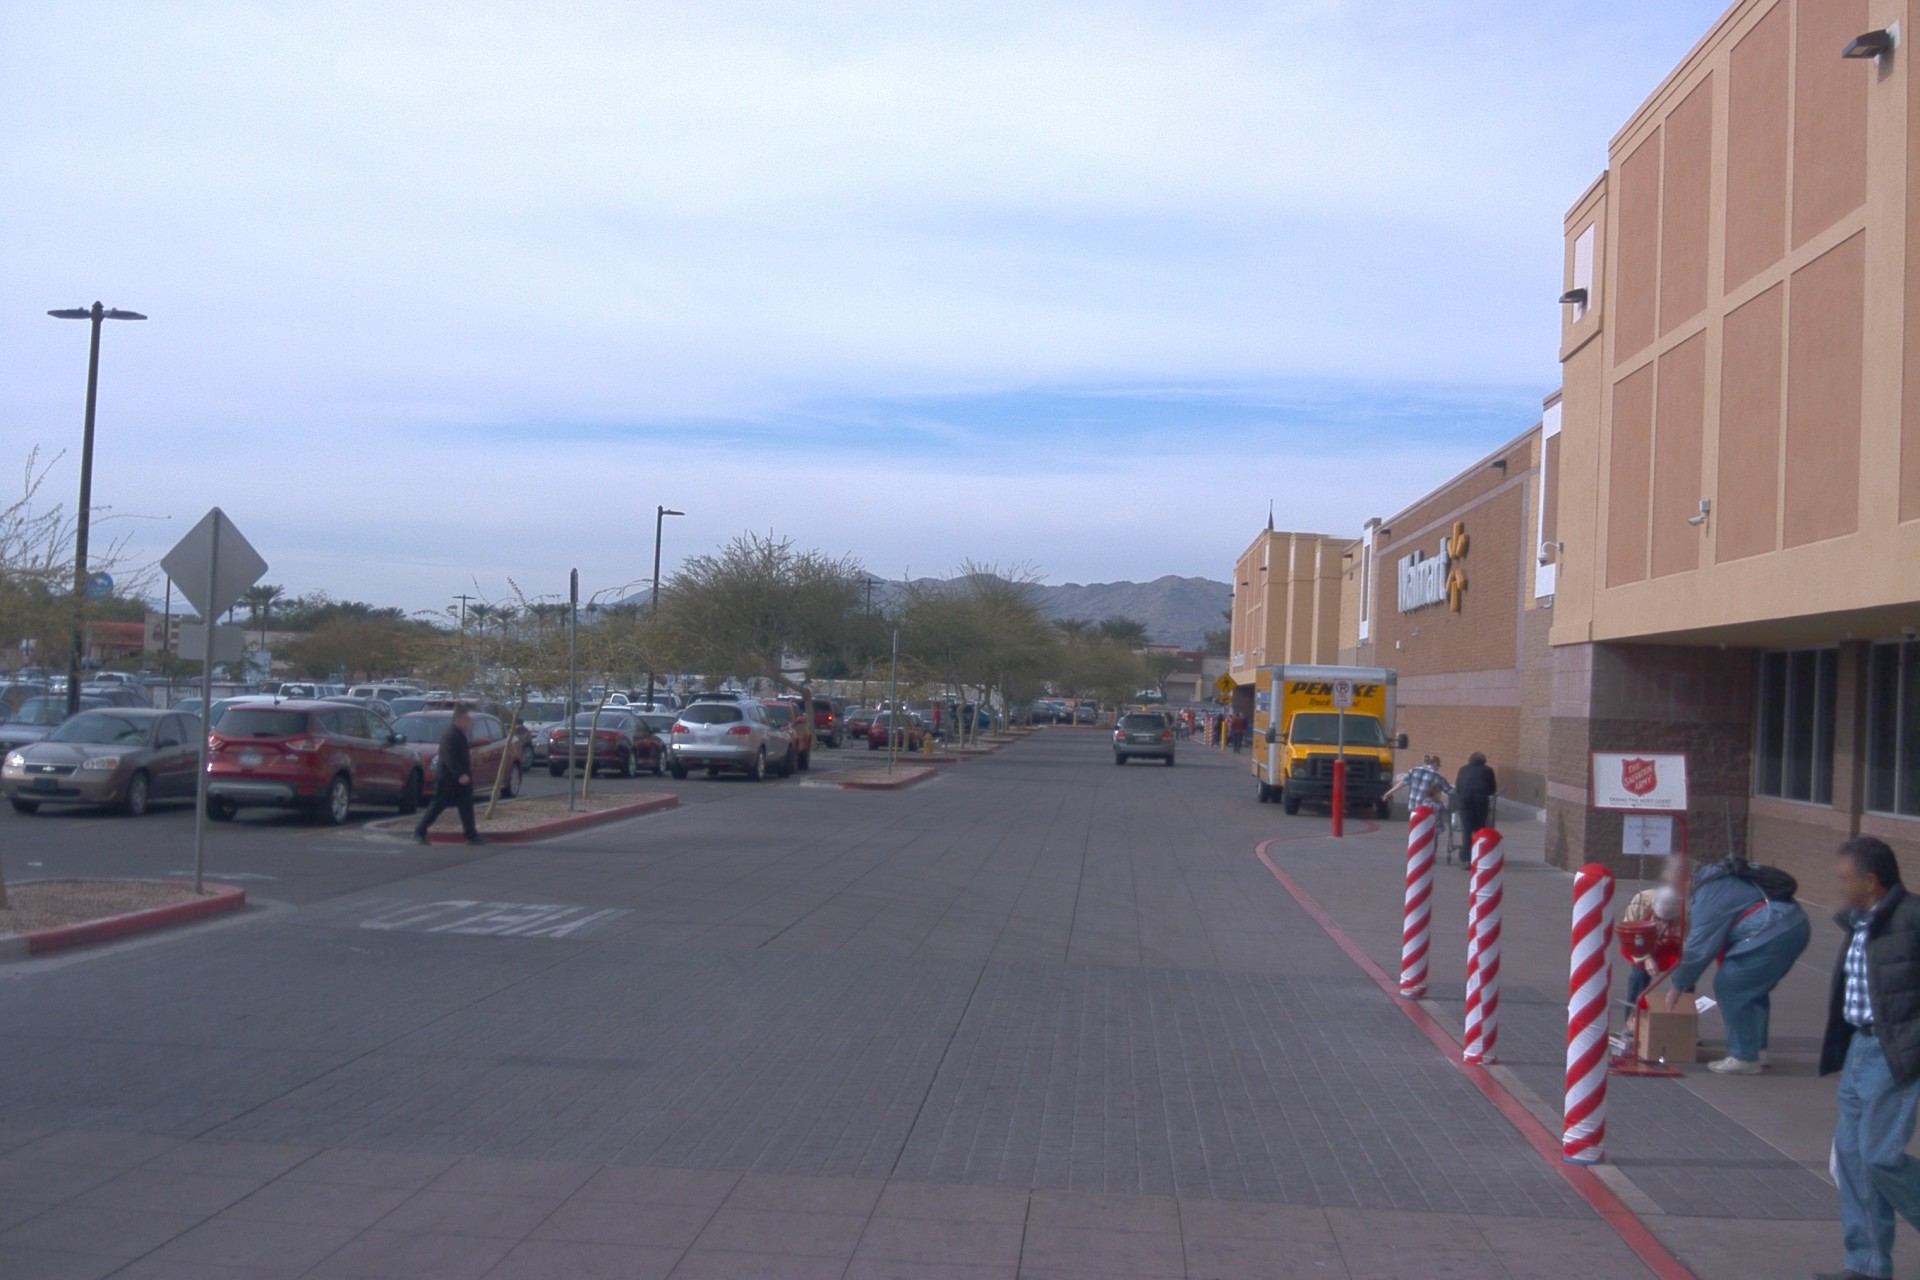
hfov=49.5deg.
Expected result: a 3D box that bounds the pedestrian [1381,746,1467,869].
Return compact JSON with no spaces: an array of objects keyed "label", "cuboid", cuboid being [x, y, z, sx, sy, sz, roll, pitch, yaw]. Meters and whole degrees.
[{"label":"pedestrian","cuboid":[6.530,2.334,29.306,1.122,1.630,1.172,1,-2,14]}]

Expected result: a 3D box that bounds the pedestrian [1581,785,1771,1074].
[{"label":"pedestrian","cuboid":[4.560,1.812,13.343,1.005,1.700,1.026,1,-1,11]}]

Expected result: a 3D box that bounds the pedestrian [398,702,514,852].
[{"label":"pedestrian","cuboid":[-6.115,1.644,25.319,0.998,1.760,1.002,1,-1,10]}]

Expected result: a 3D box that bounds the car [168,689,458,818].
[{"label":"car","cuboid":[-8.981,1.544,29.430,2.115,1.630,4.730,1,-2,7]}]

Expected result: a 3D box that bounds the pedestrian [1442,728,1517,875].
[{"label":"pedestrian","cuboid":[7.015,2.150,28.170,0.938,1.900,1.327,1,-2,13]}]

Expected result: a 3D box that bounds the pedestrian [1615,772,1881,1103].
[{"label":"pedestrian","cuboid":[4.736,1.757,12.598,1.117,1.860,1.044,1,-1,-10]}]

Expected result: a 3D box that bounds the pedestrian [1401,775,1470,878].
[{"label":"pedestrian","cuboid":[6.530,2.545,28.596,0.820,1.330,0.942,1,-2,17]}]

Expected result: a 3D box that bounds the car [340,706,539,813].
[{"label":"car","cuboid":[-8.515,1.923,34.475,1.906,1.600,4.184,1,-2,4]}]
